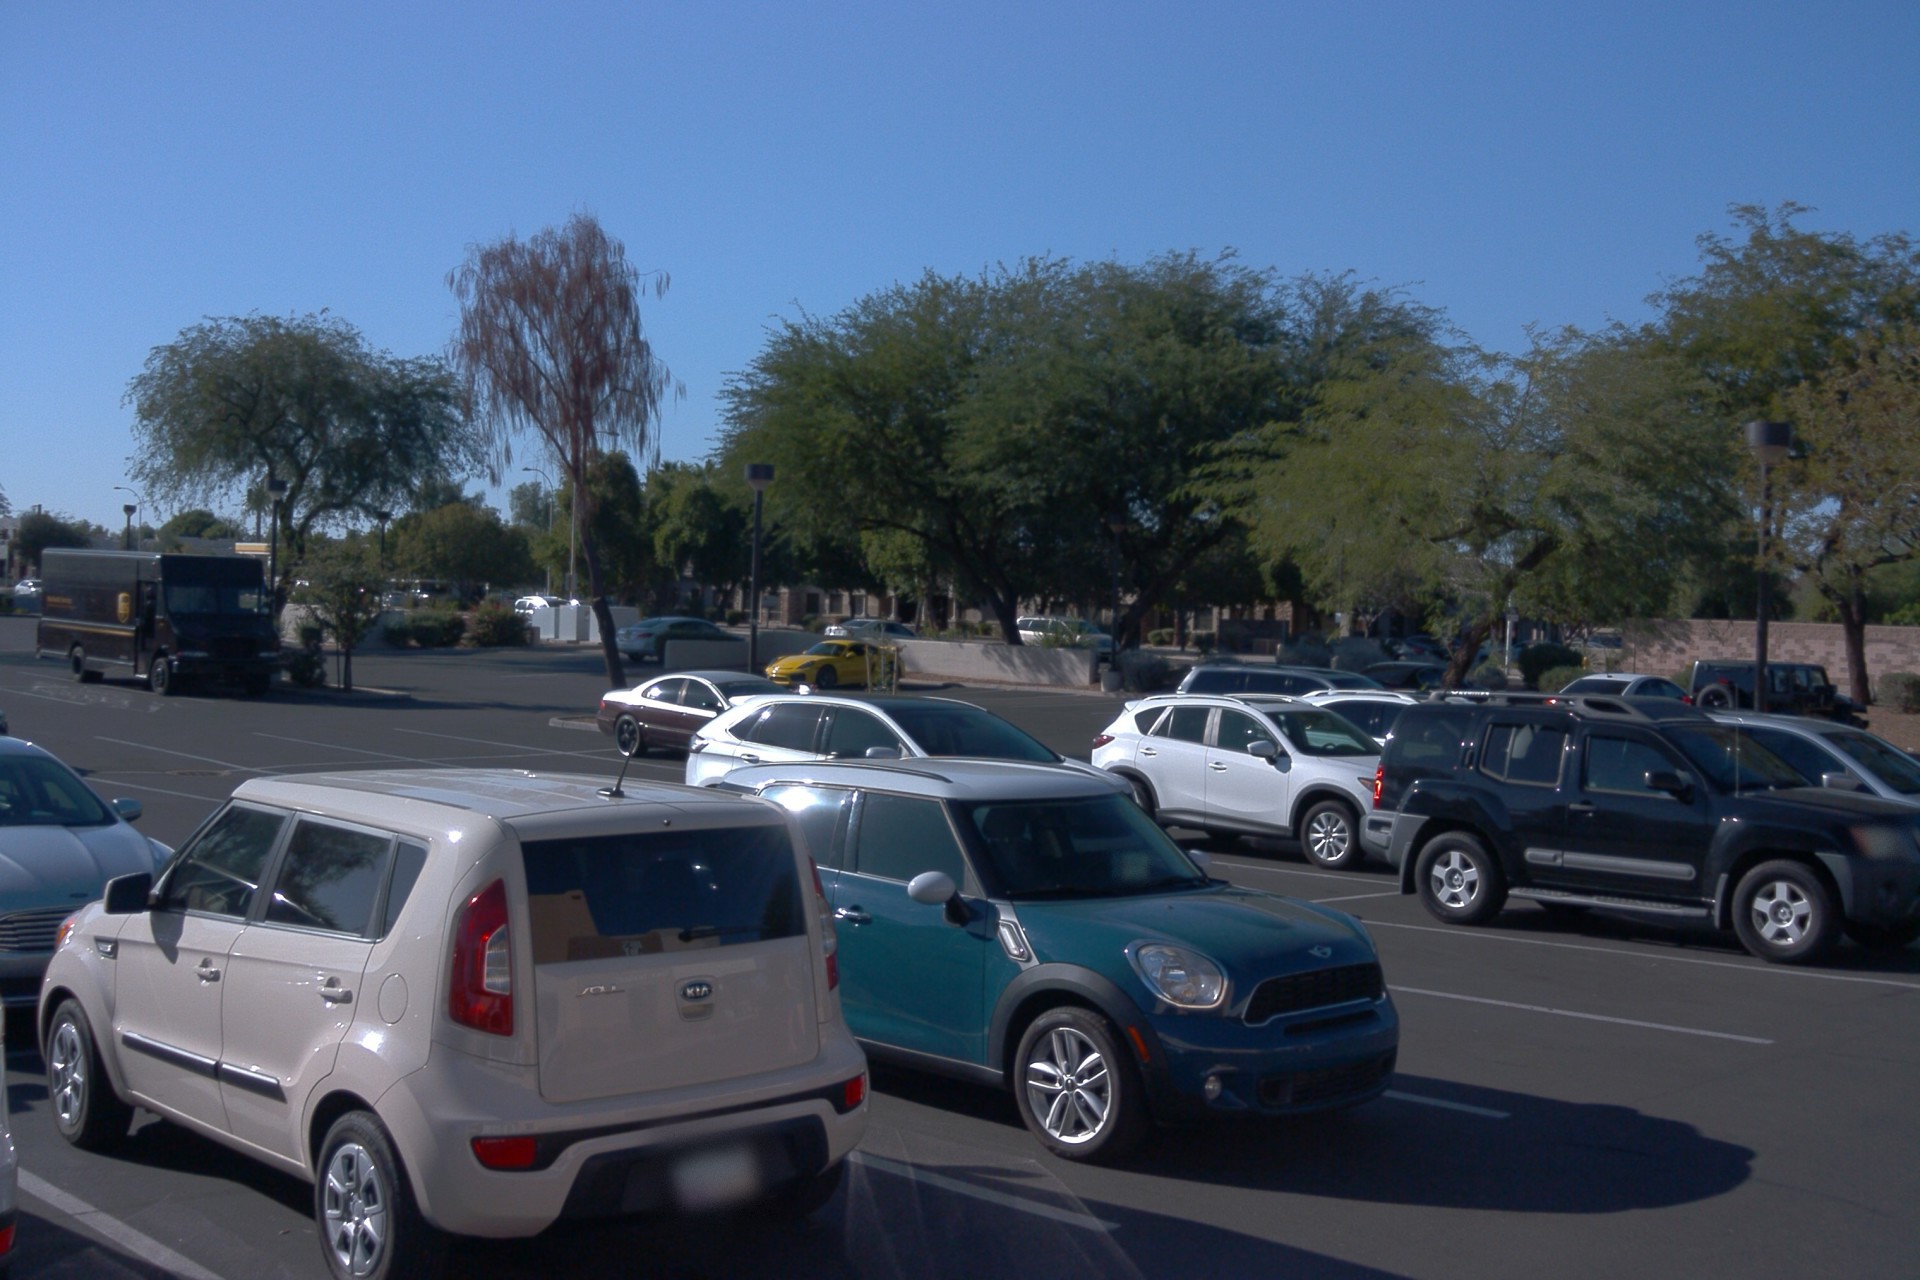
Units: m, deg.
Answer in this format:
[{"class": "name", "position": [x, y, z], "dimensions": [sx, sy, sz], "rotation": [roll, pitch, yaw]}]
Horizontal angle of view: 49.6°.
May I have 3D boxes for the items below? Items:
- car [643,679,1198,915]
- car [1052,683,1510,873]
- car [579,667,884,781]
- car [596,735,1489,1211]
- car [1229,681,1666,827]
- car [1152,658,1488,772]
[{"class": "car", "position": [-0.457, 1.252, 18.408], "dimensions": [4.659, 1.720, 2.253], "rotation": [1, 0, 44]}, {"class": "car", "position": [3.368, 1.378, 22.338], "dimensions": [2.160, 1.720, 4.434], "rotation": [1, 0, -45]}, {"class": "car", "position": [-3.728, 1.269, 33.189], "dimensions": [5.046, 1.600, 2.114], "rotation": [1, 0, 44]}, {"class": "car", "position": [0.243, 1.361, 9.990], "dimensions": [2.003, 1.600, 3.979], "rotation": [1, 0, -45]}, {"class": "car", "position": [5.696, 1.270, 24.663], "dimensions": [2.057, 1.460, 4.663], "rotation": [1, 0, -45]}, {"class": "car", "position": [5.949, 1.185, 34.700], "dimensions": [5.065, 1.700, 2.270], "rotation": [1, 0, 41]}]
